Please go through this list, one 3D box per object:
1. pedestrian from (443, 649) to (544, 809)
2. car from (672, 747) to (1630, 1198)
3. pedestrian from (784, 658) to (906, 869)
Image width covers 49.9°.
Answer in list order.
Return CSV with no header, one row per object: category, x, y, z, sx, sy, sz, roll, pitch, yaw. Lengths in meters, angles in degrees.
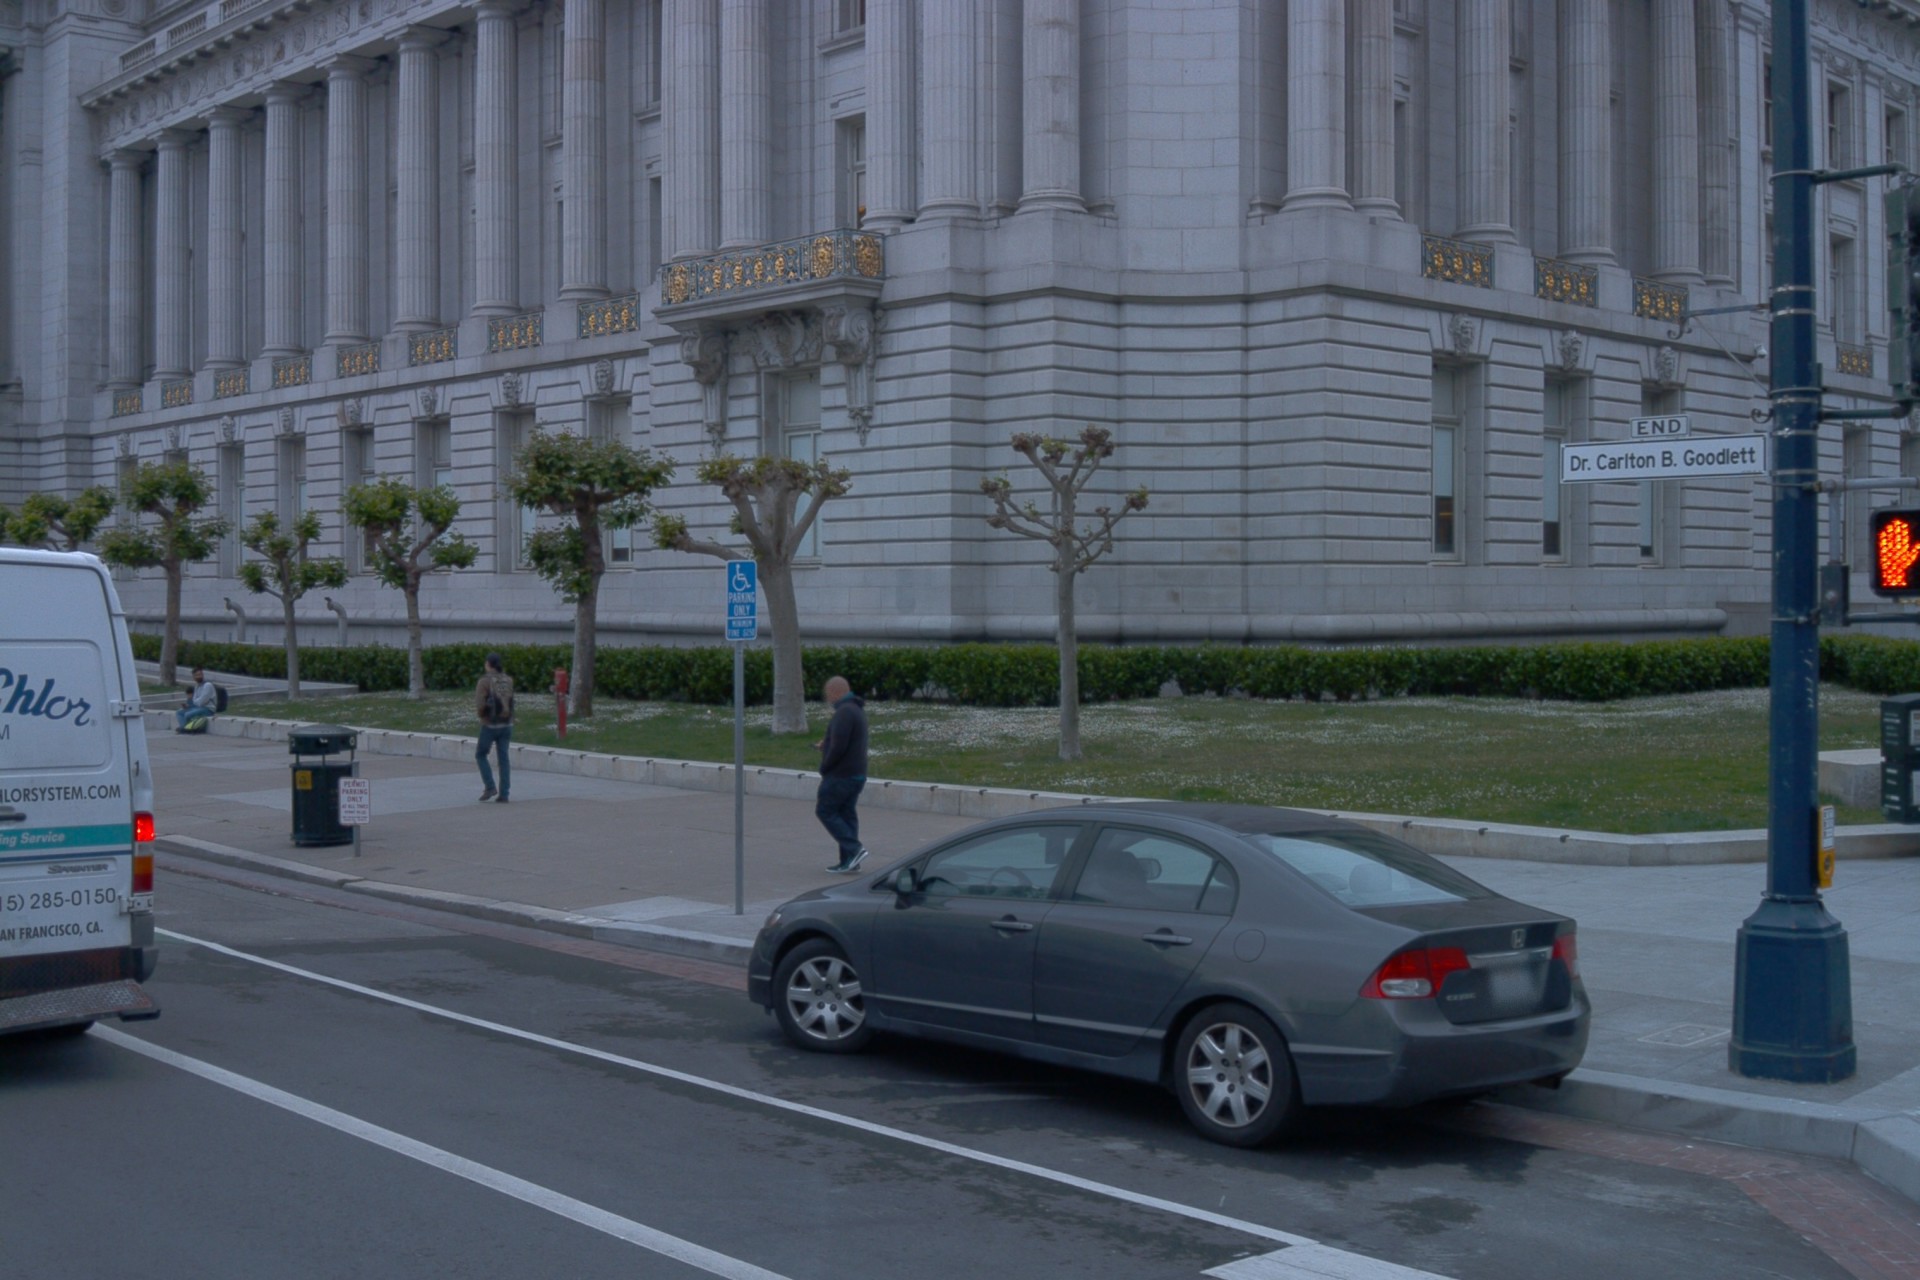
pedestrian,-5.490,1.023,24.311,0.736,1.815,1.004,-1,1,-44
car,0.777,1.442,10.520,4.588,1.512,2.021,0,1,44
pedestrian,-0.982,1.039,17.794,0.918,1.757,0.758,0,1,9
